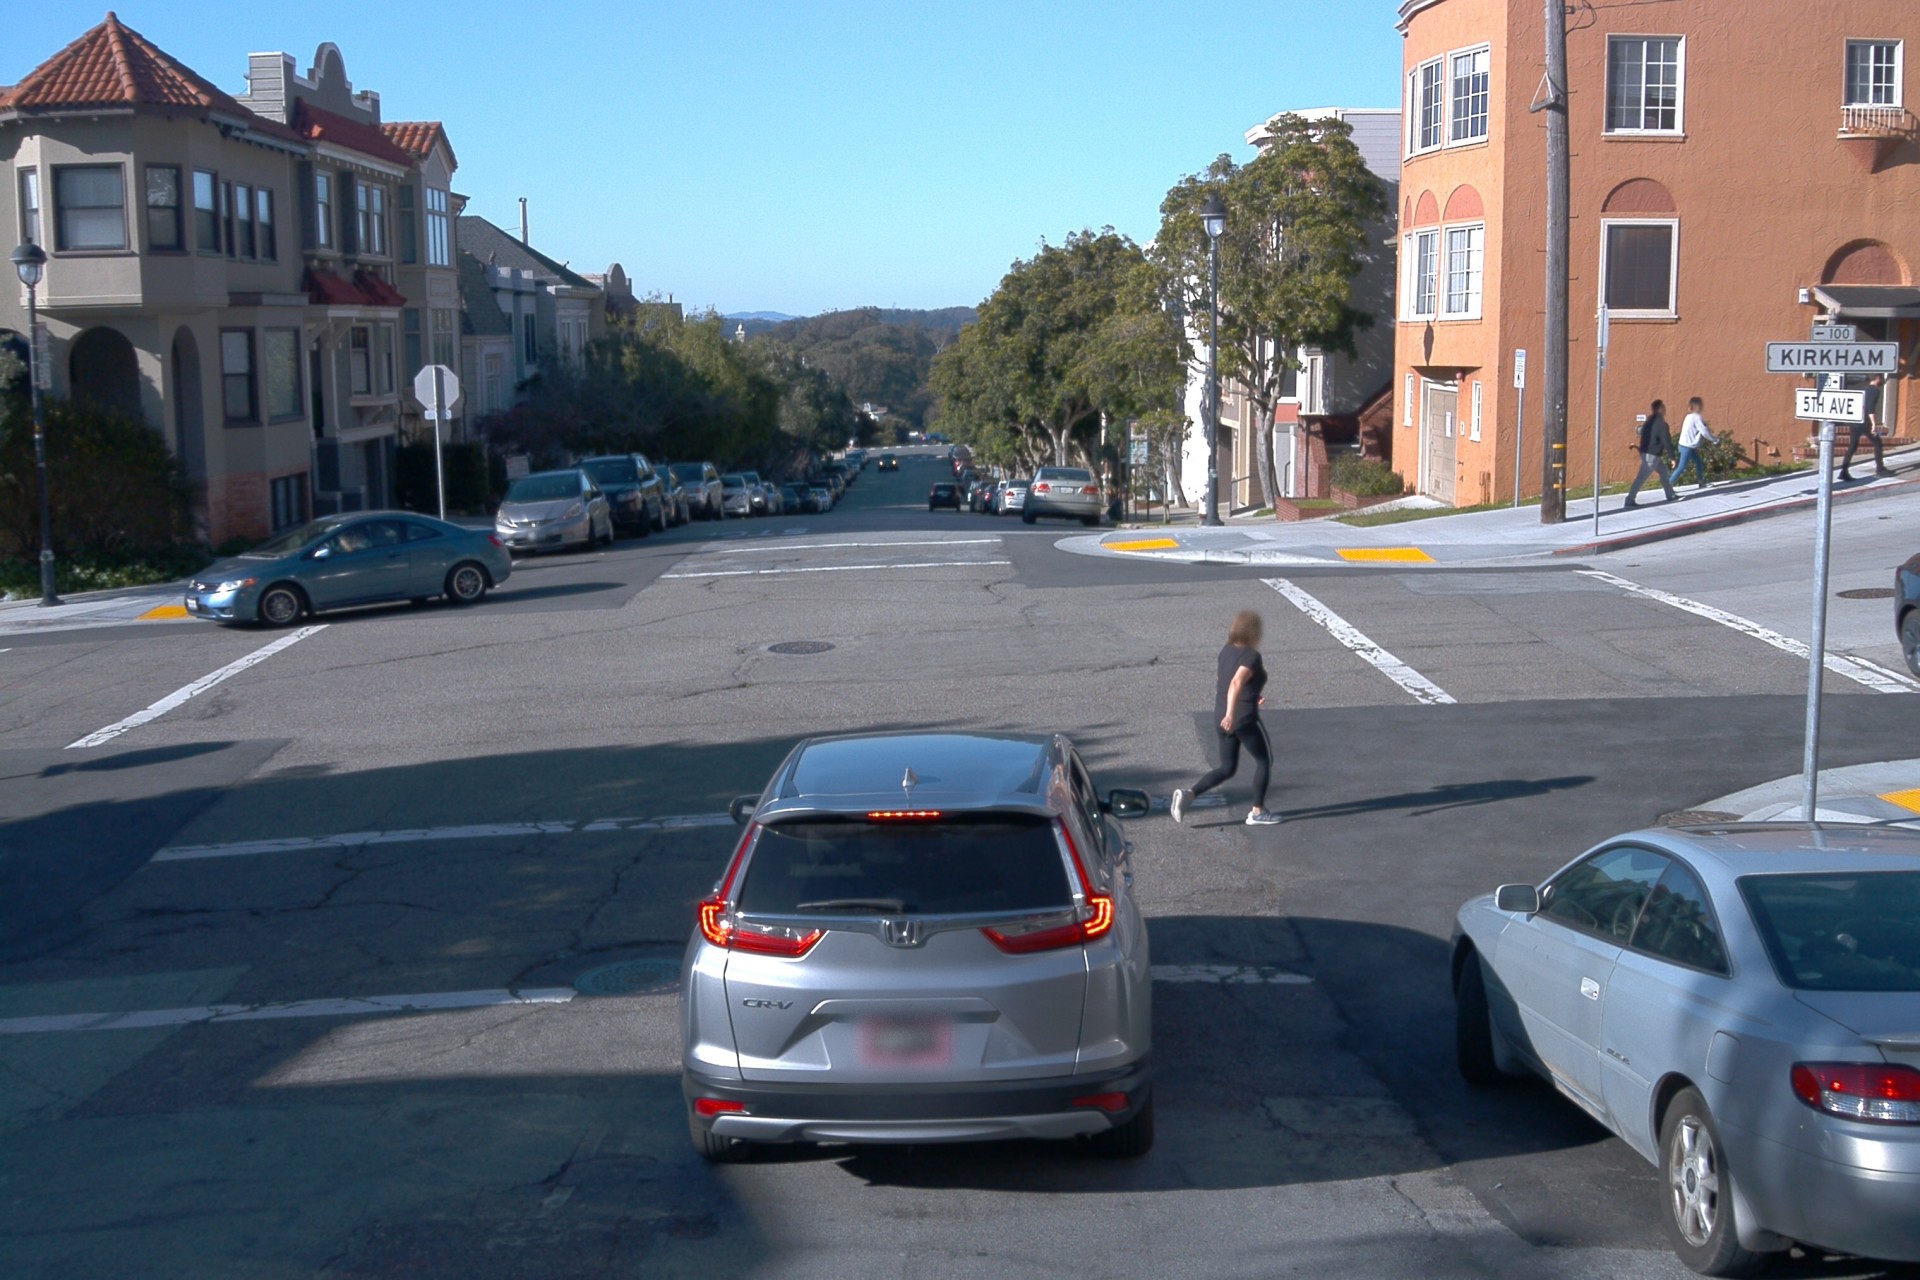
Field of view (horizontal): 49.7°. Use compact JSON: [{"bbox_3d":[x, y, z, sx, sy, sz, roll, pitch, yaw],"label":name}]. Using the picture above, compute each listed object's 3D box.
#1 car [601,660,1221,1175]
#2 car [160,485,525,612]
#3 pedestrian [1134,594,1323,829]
[{"bbox_3d":[-0.185,1.005,9.672,2.191,1.800,4.695,0,0,0],"label":"car"},{"bbox_3d":[-8.361,-1.182,28.258,4.401,1.530,1.823,0,0,-41],"label":"car"},{"bbox_3d":[1.916,0.497,14.835,1.128,1.620,0.731,0,0,-22],"label":"pedestrian"}]
